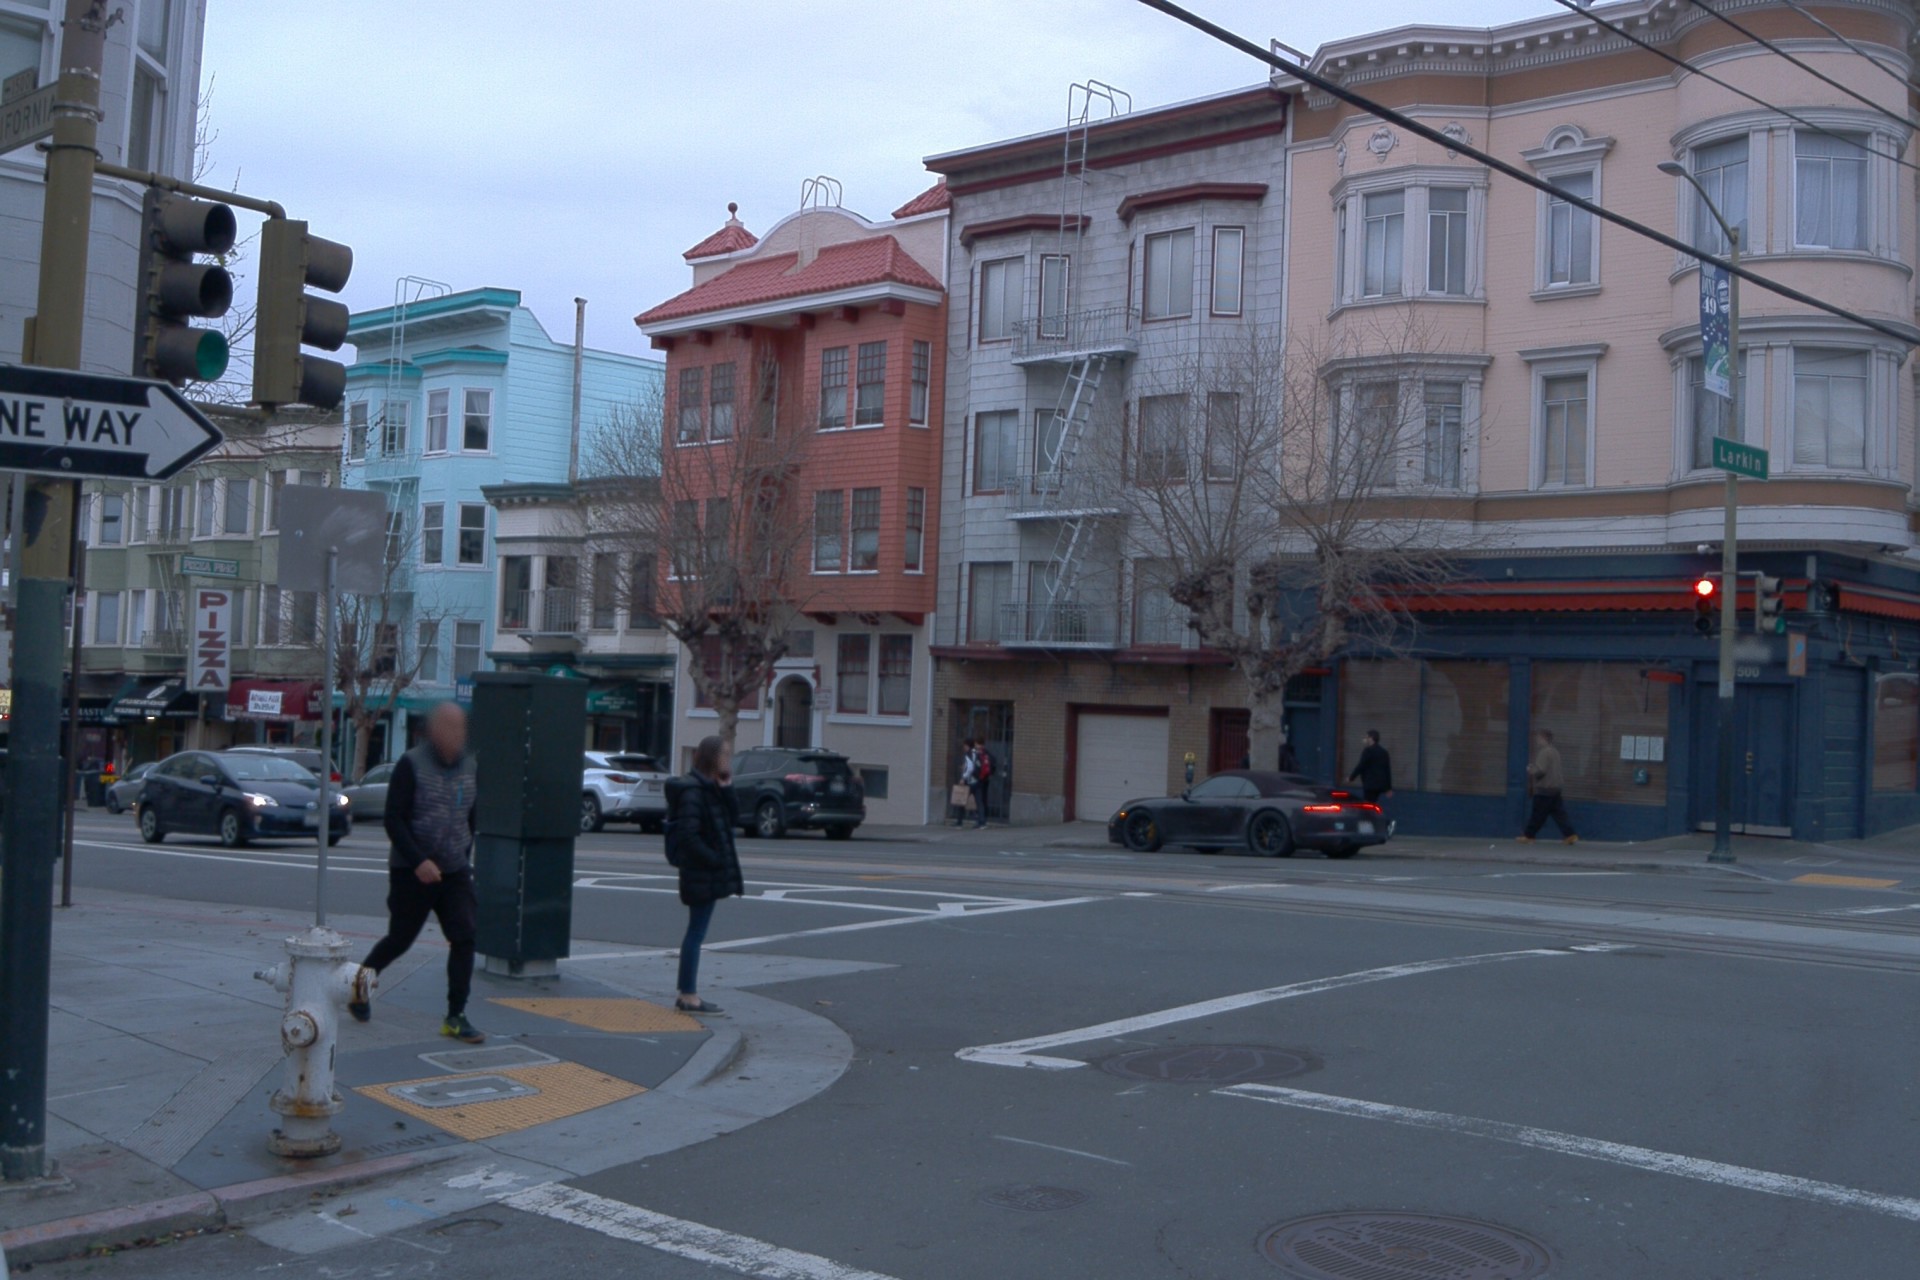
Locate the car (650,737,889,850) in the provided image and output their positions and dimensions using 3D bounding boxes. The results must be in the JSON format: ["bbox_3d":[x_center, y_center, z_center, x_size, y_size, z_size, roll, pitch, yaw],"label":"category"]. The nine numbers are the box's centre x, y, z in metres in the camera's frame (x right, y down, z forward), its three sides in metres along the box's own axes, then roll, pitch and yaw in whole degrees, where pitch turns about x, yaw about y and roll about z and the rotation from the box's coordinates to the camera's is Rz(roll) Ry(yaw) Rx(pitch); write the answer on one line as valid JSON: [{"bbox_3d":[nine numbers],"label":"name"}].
[{"bbox_3d":[-3.623,2.825,38.770,4.423,1.700,2.100,1,1,44],"label":"car"}]

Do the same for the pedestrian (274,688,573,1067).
[{"bbox_3d":[-2.704,1.131,10.390,1.244,1.716,0.882,1,1,40],"label":"pedestrian"}]

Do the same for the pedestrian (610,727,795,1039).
[{"bbox_3d":[-1.515,1.391,12.137,0.846,1.692,0.707,-1,1,-34],"label":"pedestrian"}]

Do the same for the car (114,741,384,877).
[{"bbox_3d":[-11.079,2.547,32.010,4.528,1.660,2.074,1,1,43],"label":"car"}]

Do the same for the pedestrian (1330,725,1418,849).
[{"bbox_3d":[6.747,2.377,33.667,1.080,1.913,0.903,1,1,43],"label":"pedestrian"}]

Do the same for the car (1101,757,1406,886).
[{"bbox_3d":[4.281,2.622,30.588,1.947,1.460,4.186,-1,1,-43],"label":"car"}]

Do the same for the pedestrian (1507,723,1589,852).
[{"bbox_3d":[9.141,2.279,32.082,0.946,1.900,0.789,1,1,44],"label":"pedestrian"}]
